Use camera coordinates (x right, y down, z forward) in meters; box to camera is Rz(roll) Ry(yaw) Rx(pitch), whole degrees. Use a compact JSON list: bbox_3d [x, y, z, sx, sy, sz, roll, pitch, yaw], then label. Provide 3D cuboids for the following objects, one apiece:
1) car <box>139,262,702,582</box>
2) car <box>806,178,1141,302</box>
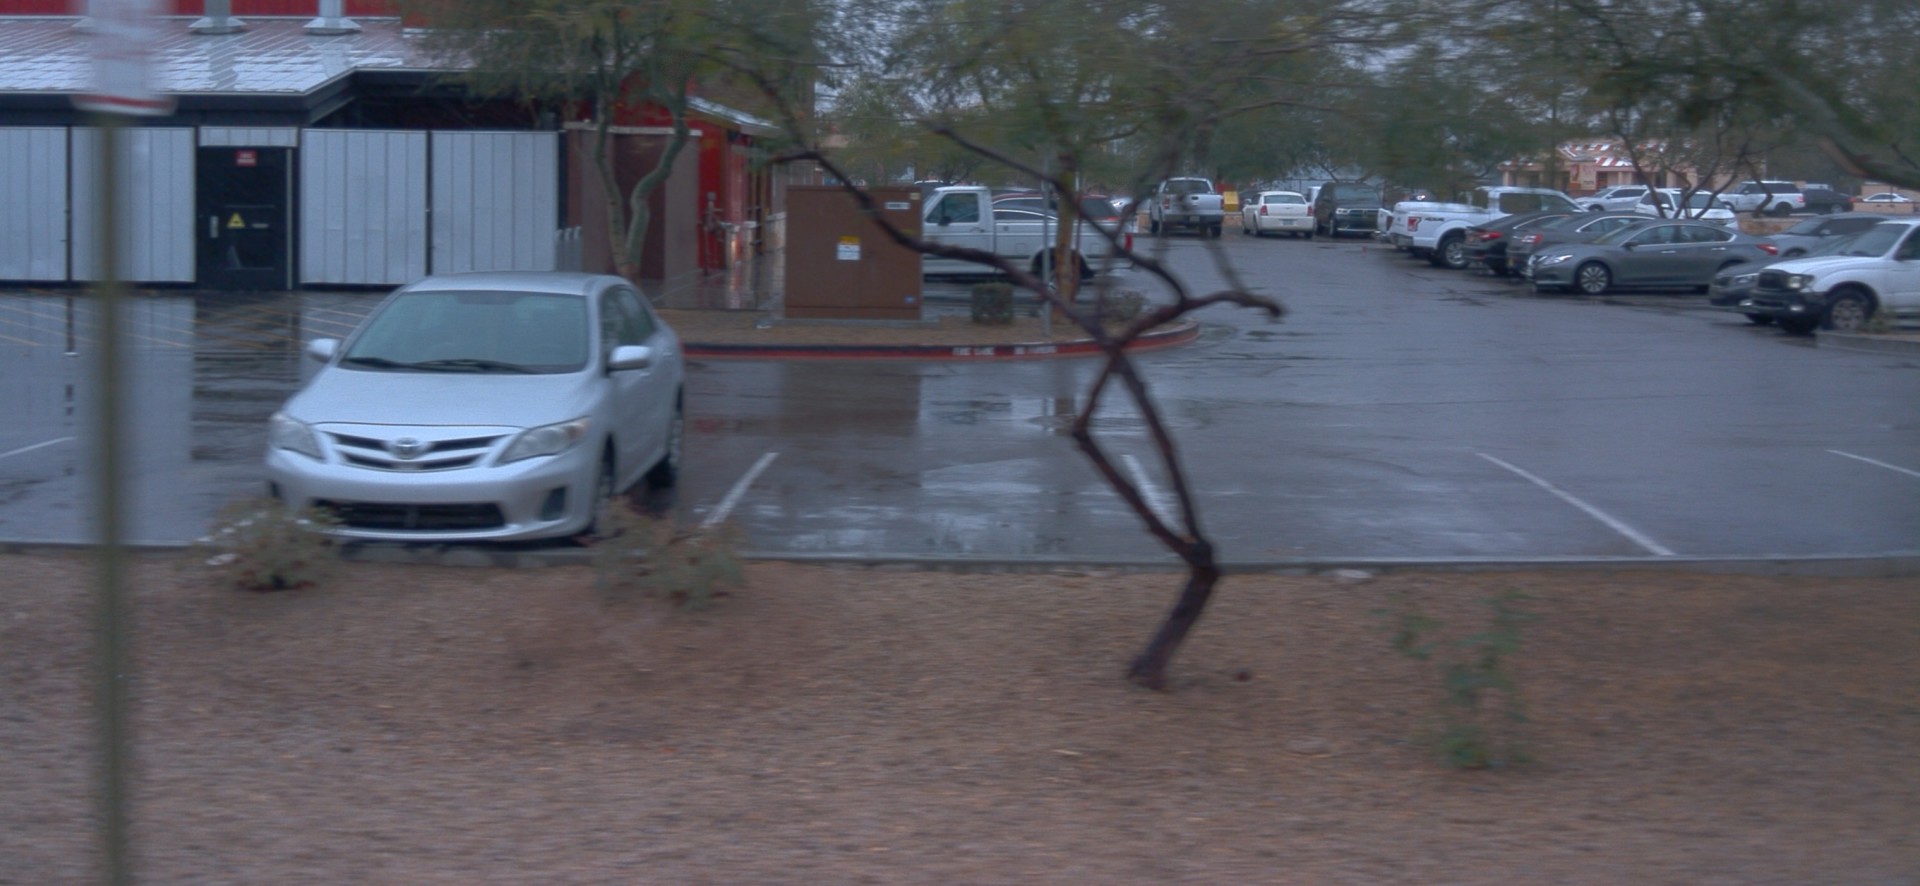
[{"bbox_3d":[-2.944,-0.305,12.556,2.070,1.484,4.702,1,5,1],"label":"car"},{"bbox_3d":[0.209,-3.271,33.469,5.212,1.886,2.117,0,3,-1],"label":"car"}]
